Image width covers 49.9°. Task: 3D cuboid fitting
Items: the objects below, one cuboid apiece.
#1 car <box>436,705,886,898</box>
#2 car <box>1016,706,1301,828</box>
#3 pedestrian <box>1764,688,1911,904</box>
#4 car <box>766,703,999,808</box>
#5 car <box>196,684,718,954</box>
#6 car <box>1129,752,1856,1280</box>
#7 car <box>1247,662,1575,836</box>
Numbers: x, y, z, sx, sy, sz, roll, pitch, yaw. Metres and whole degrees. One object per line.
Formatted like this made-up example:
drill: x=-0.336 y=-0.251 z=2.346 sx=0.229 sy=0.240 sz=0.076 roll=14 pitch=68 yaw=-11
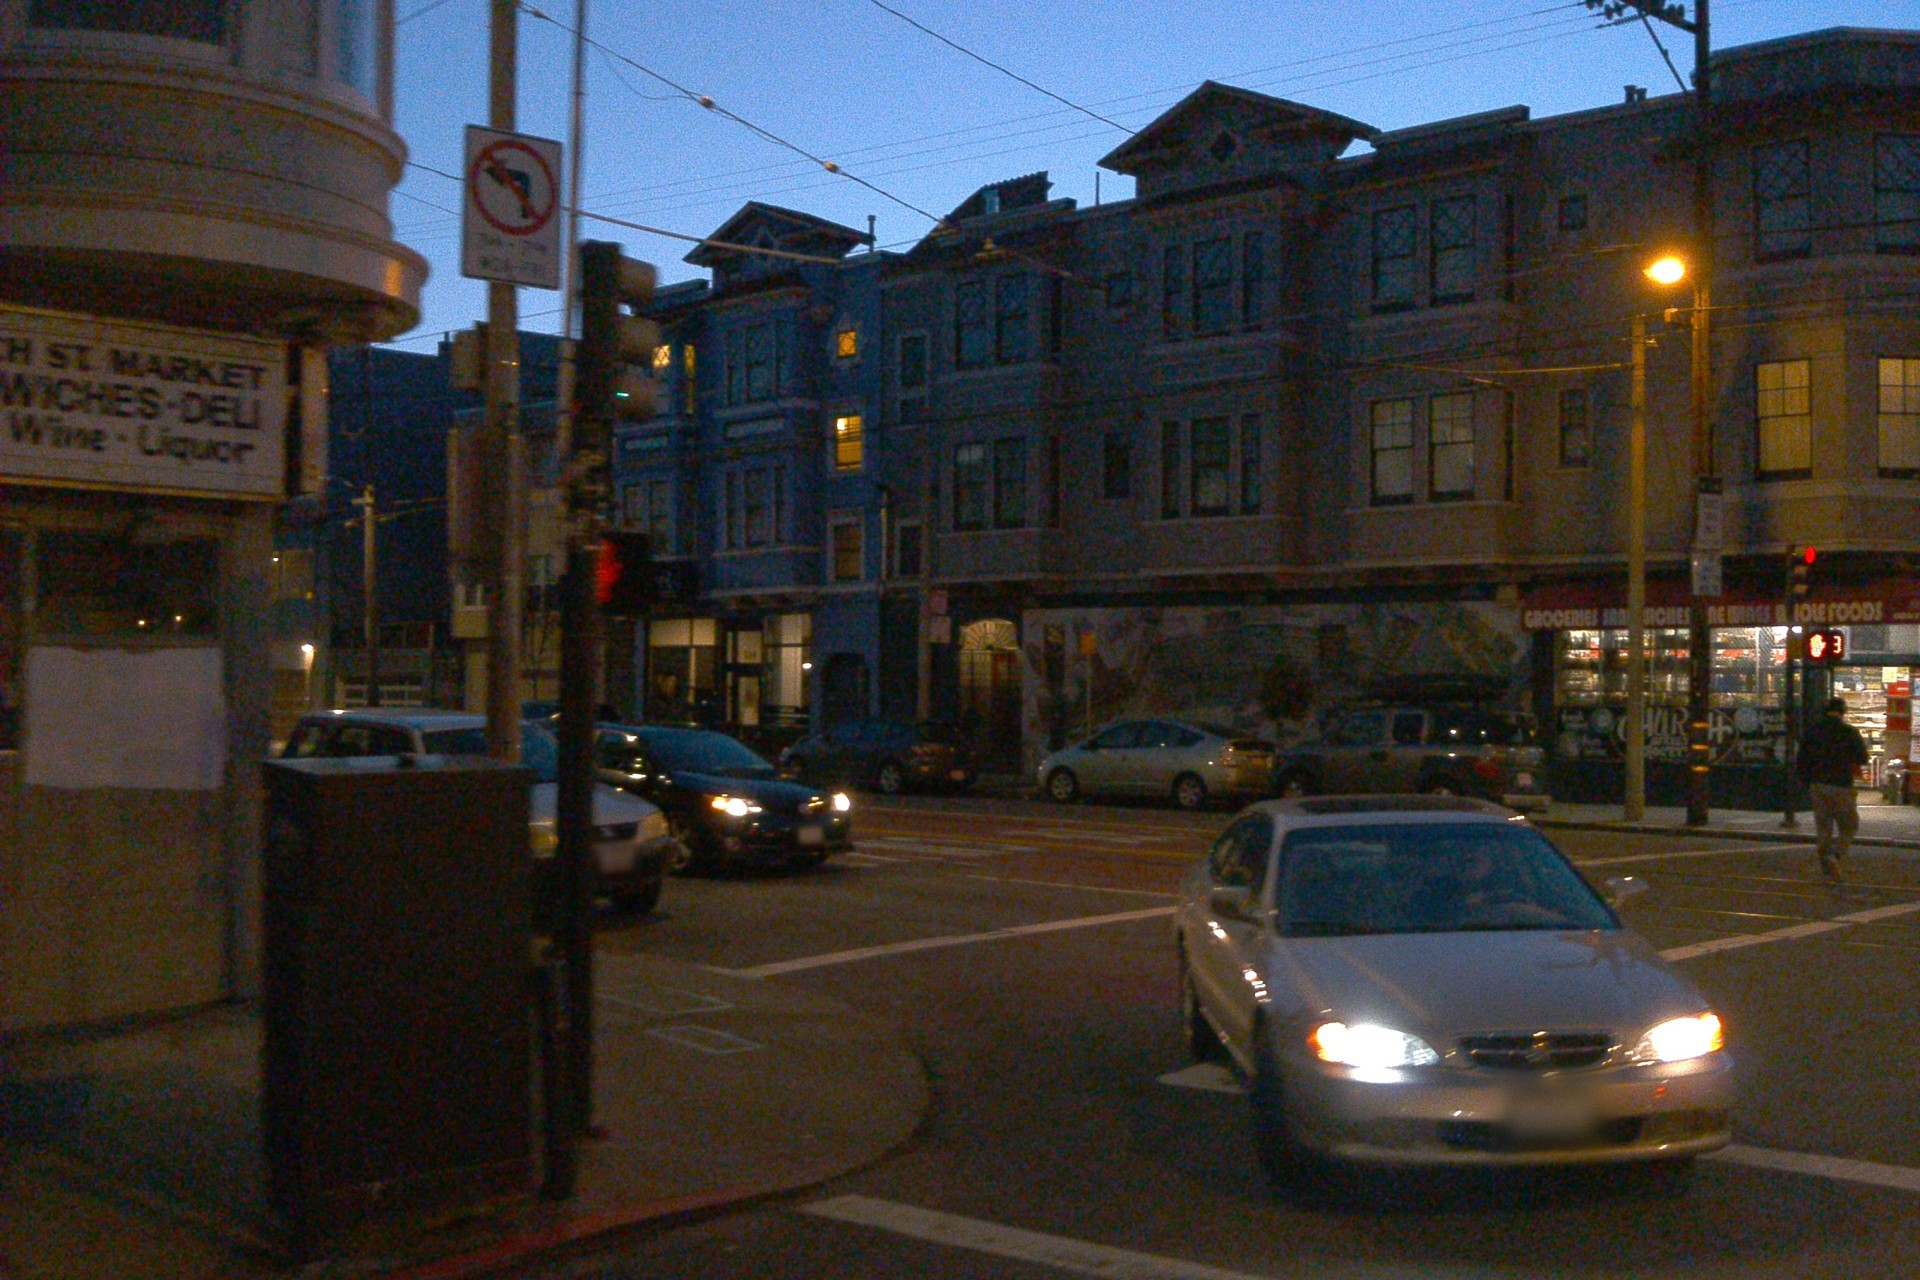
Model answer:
car: x=-3.193 y=1.557 z=21.352 sx=4.834 sy=1.520 sz=2.109 roll=1 pitch=1 yaw=44
car: x=3.198 y=2.017 z=33.863 sx=1.960 sy=1.640 sz=4.426 roll=-1 pitch=1 yaw=-45
pedestrian: x=8.448 y=1.461 z=19.852 sx=0.905 sy=1.930 sz=1.275 roll=1 pitch=1 yaw=43
car: x=-1.488 y=2.106 z=38.566 sx=4.160 sy=1.650 sz=2.039 roll=1 pitch=1 yaw=45
car: x=-4.275 y=1.341 z=17.178 sx=4.413 sy=1.770 sz=2.128 roll=1 pitch=1 yaw=43
car: x=2.075 y=1.495 z=9.713 sx=2.134 sy=1.580 sz=4.901 roll=0 pitch=1 yaw=0
car: x=6.588 y=1.513 z=30.465 sx=2.036 sy=2.260 sz=4.341 roll=-1 pitch=1 yaw=-43
